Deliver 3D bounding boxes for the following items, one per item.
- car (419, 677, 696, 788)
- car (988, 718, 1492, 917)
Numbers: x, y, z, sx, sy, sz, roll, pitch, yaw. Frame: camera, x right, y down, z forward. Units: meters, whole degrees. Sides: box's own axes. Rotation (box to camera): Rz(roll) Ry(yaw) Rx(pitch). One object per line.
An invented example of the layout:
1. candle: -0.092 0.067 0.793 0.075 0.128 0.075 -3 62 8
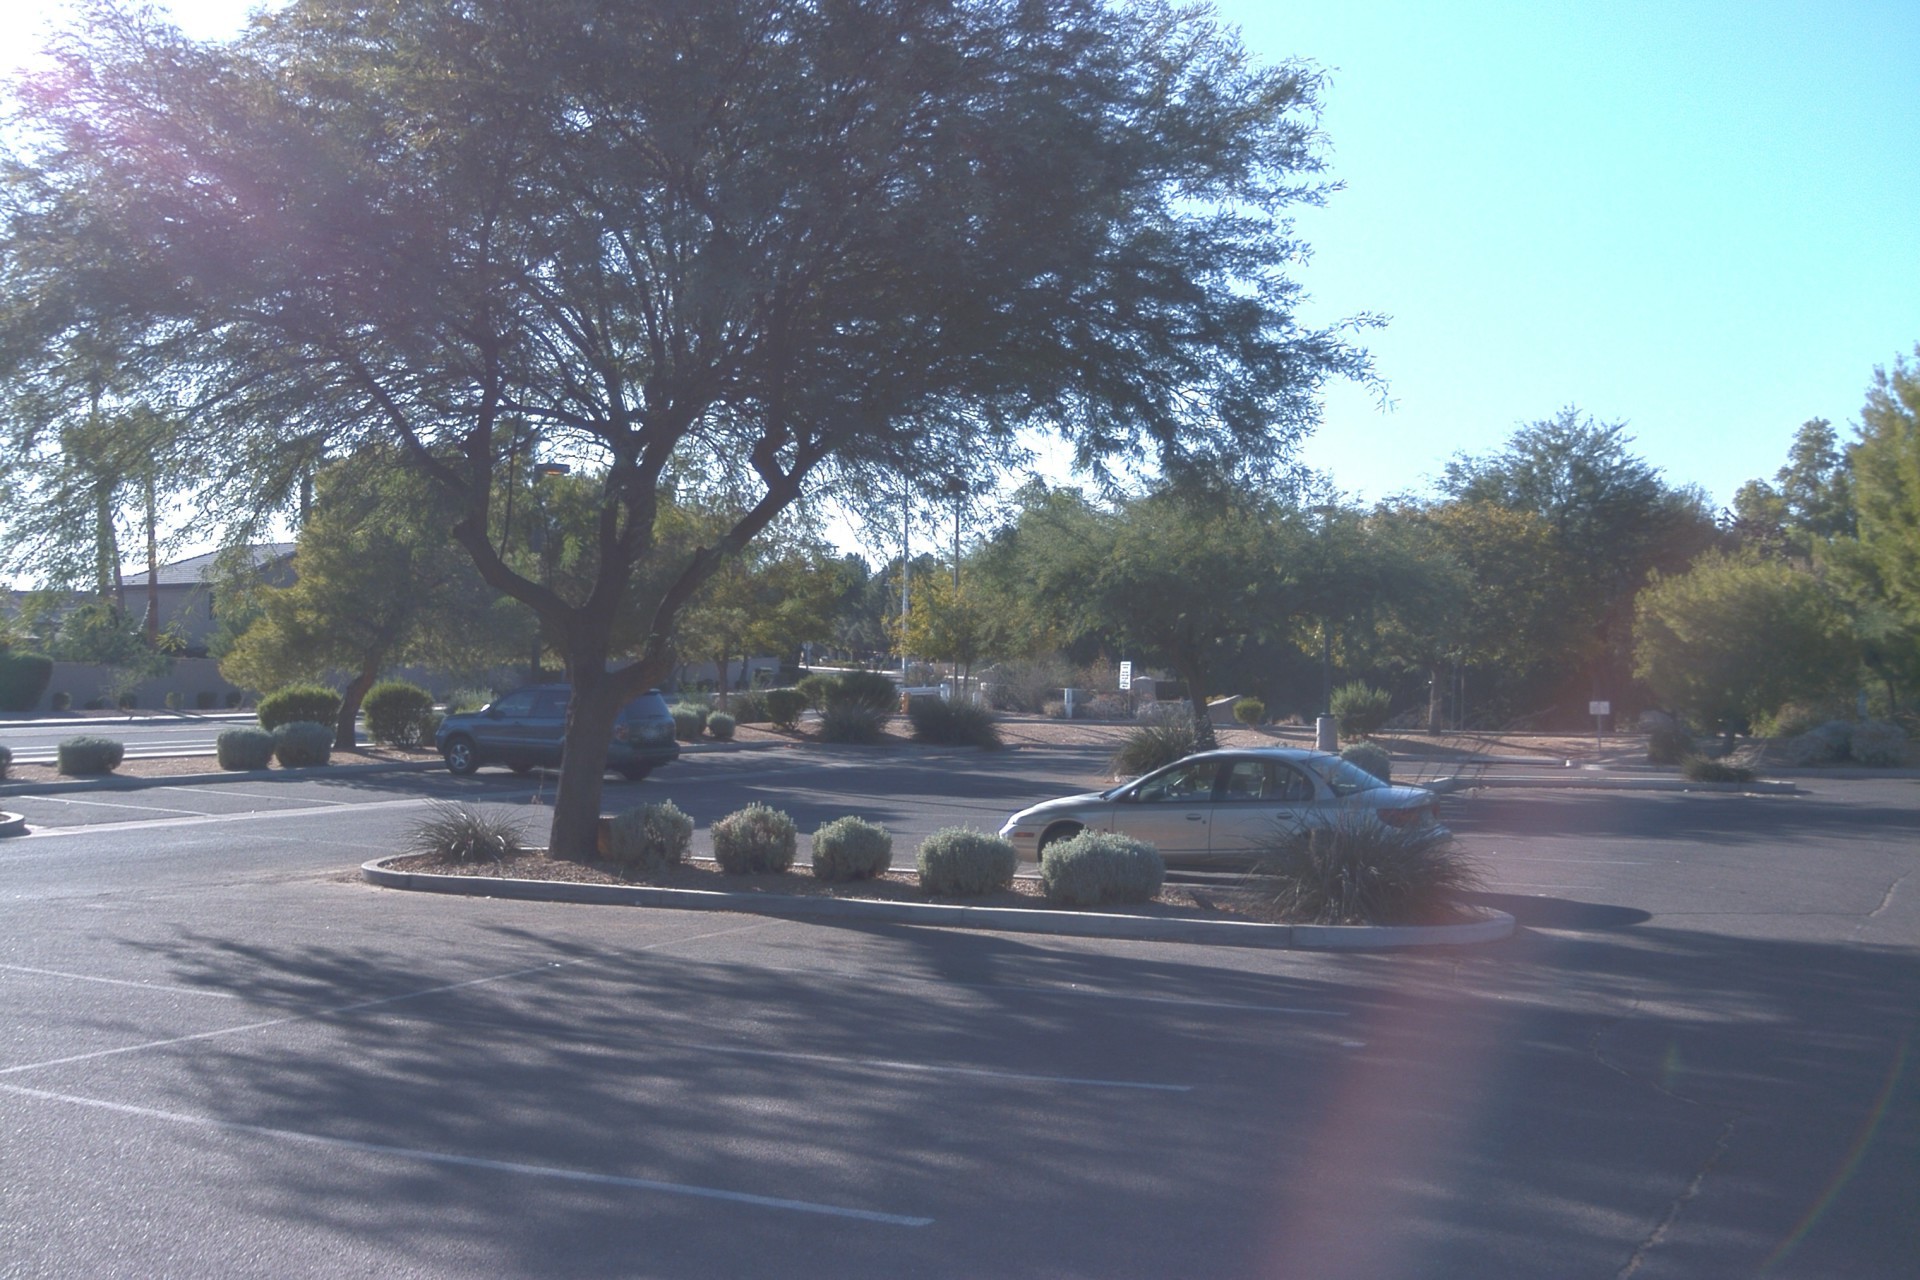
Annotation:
1. car: -7.404 1.648 38.267 4.652 1.850 2.105 1 0 27
2. car: 2.739 1.656 20.510 4.493 1.604 1.954 1 0 28
